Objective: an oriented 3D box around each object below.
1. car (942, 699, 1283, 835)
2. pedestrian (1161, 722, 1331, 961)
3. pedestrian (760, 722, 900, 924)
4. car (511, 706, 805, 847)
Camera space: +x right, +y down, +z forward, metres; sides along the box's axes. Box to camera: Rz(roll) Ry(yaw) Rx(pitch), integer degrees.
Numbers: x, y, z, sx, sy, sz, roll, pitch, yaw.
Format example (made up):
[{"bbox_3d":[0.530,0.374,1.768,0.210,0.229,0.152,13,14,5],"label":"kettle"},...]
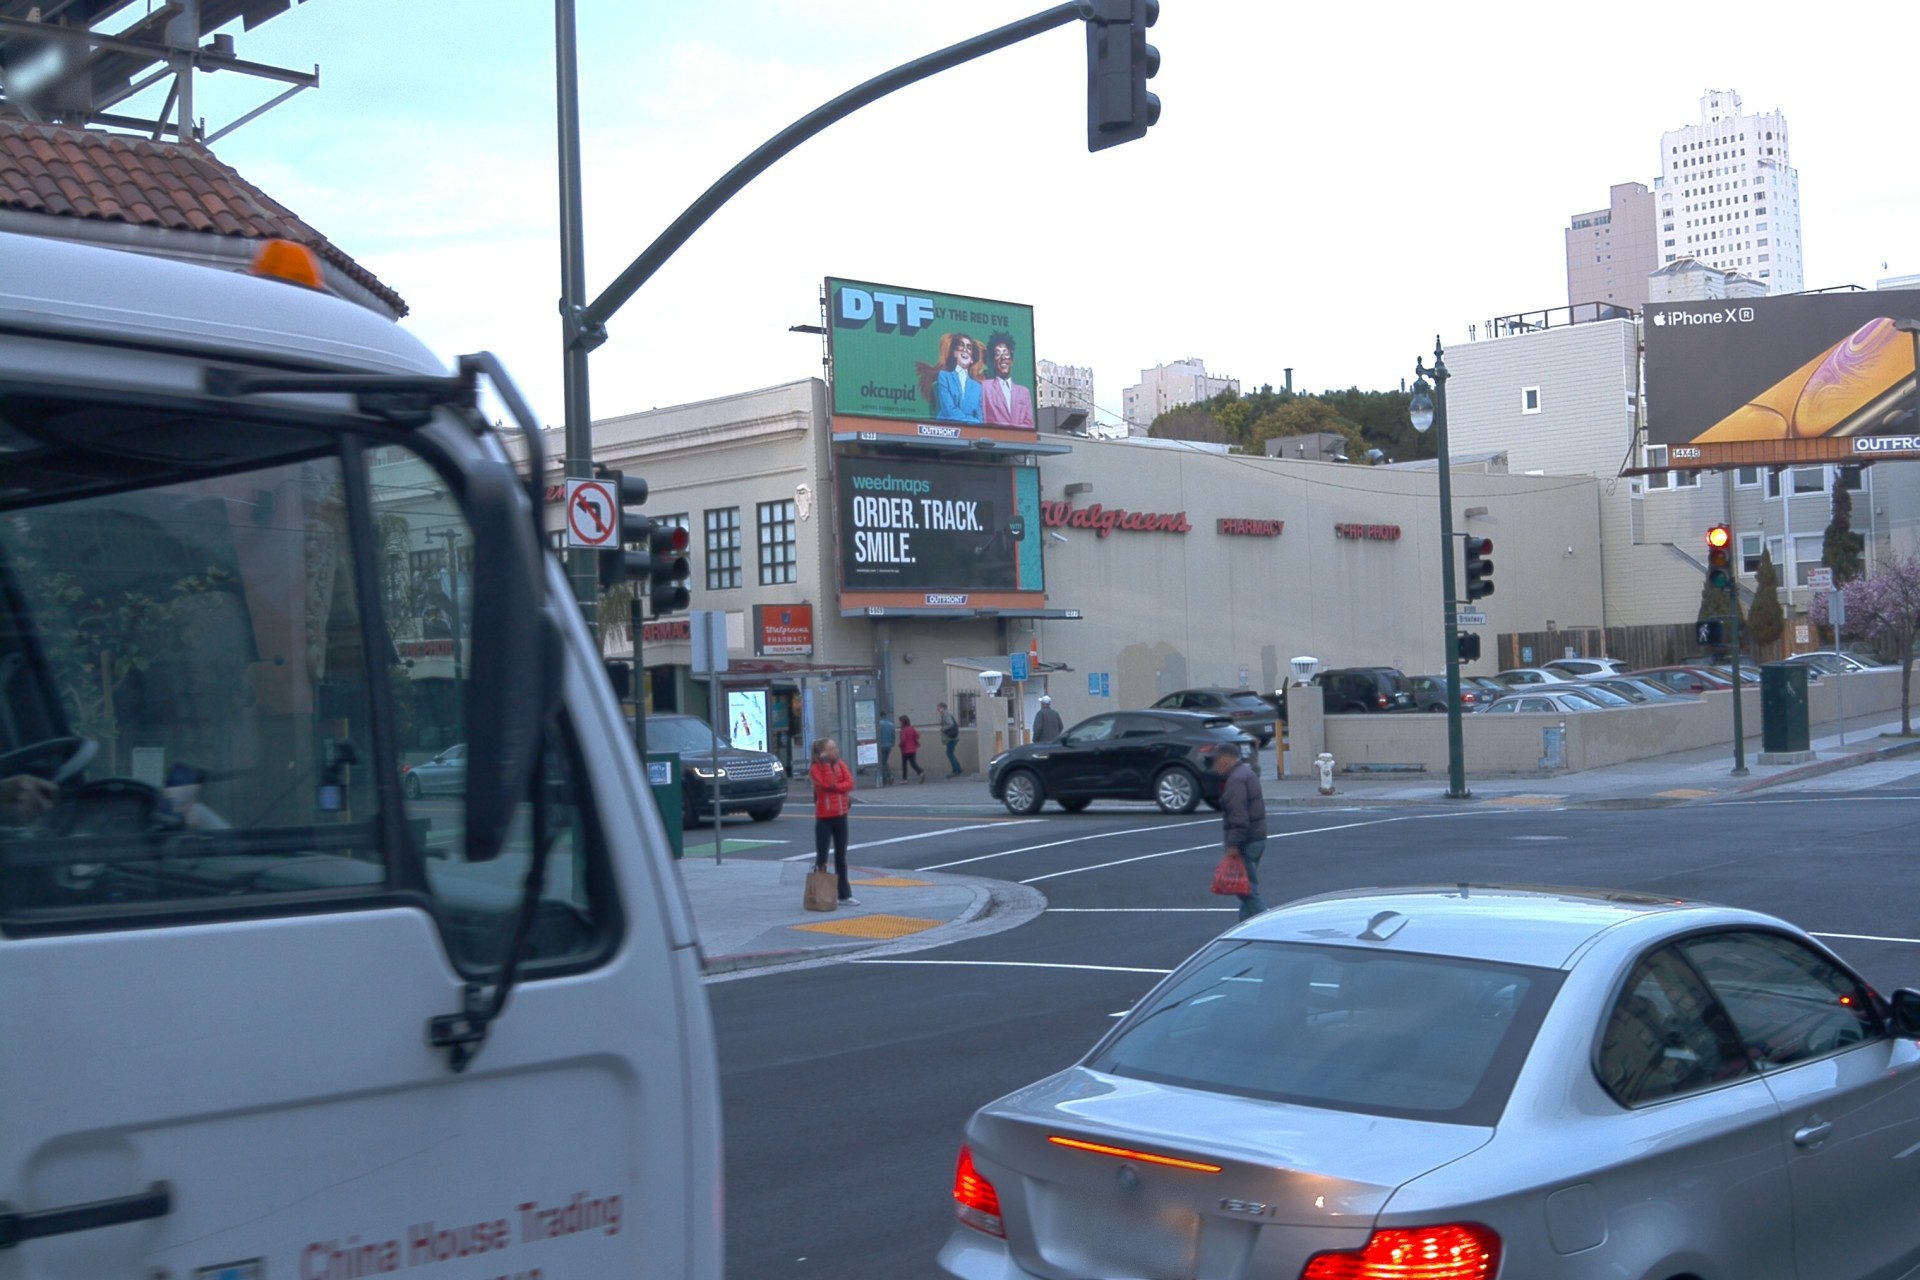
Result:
[{"bbox_3d":[2.356,1.926,32.516,4.869,1.760,2.238,1,1,36],"label":"car"},{"bbox_3d":[2.170,1.493,15.698,0.856,1.680,0.914,0,1,-42],"label":"pedestrian"},{"bbox_3d":[-1.283,1.785,20.535,0.861,1.879,1.070,2,1,40],"label":"pedestrian"},{"bbox_3d":[-5.085,2.174,34.287,2.224,1.890,5.170,0,1,-44],"label":"car"}]
